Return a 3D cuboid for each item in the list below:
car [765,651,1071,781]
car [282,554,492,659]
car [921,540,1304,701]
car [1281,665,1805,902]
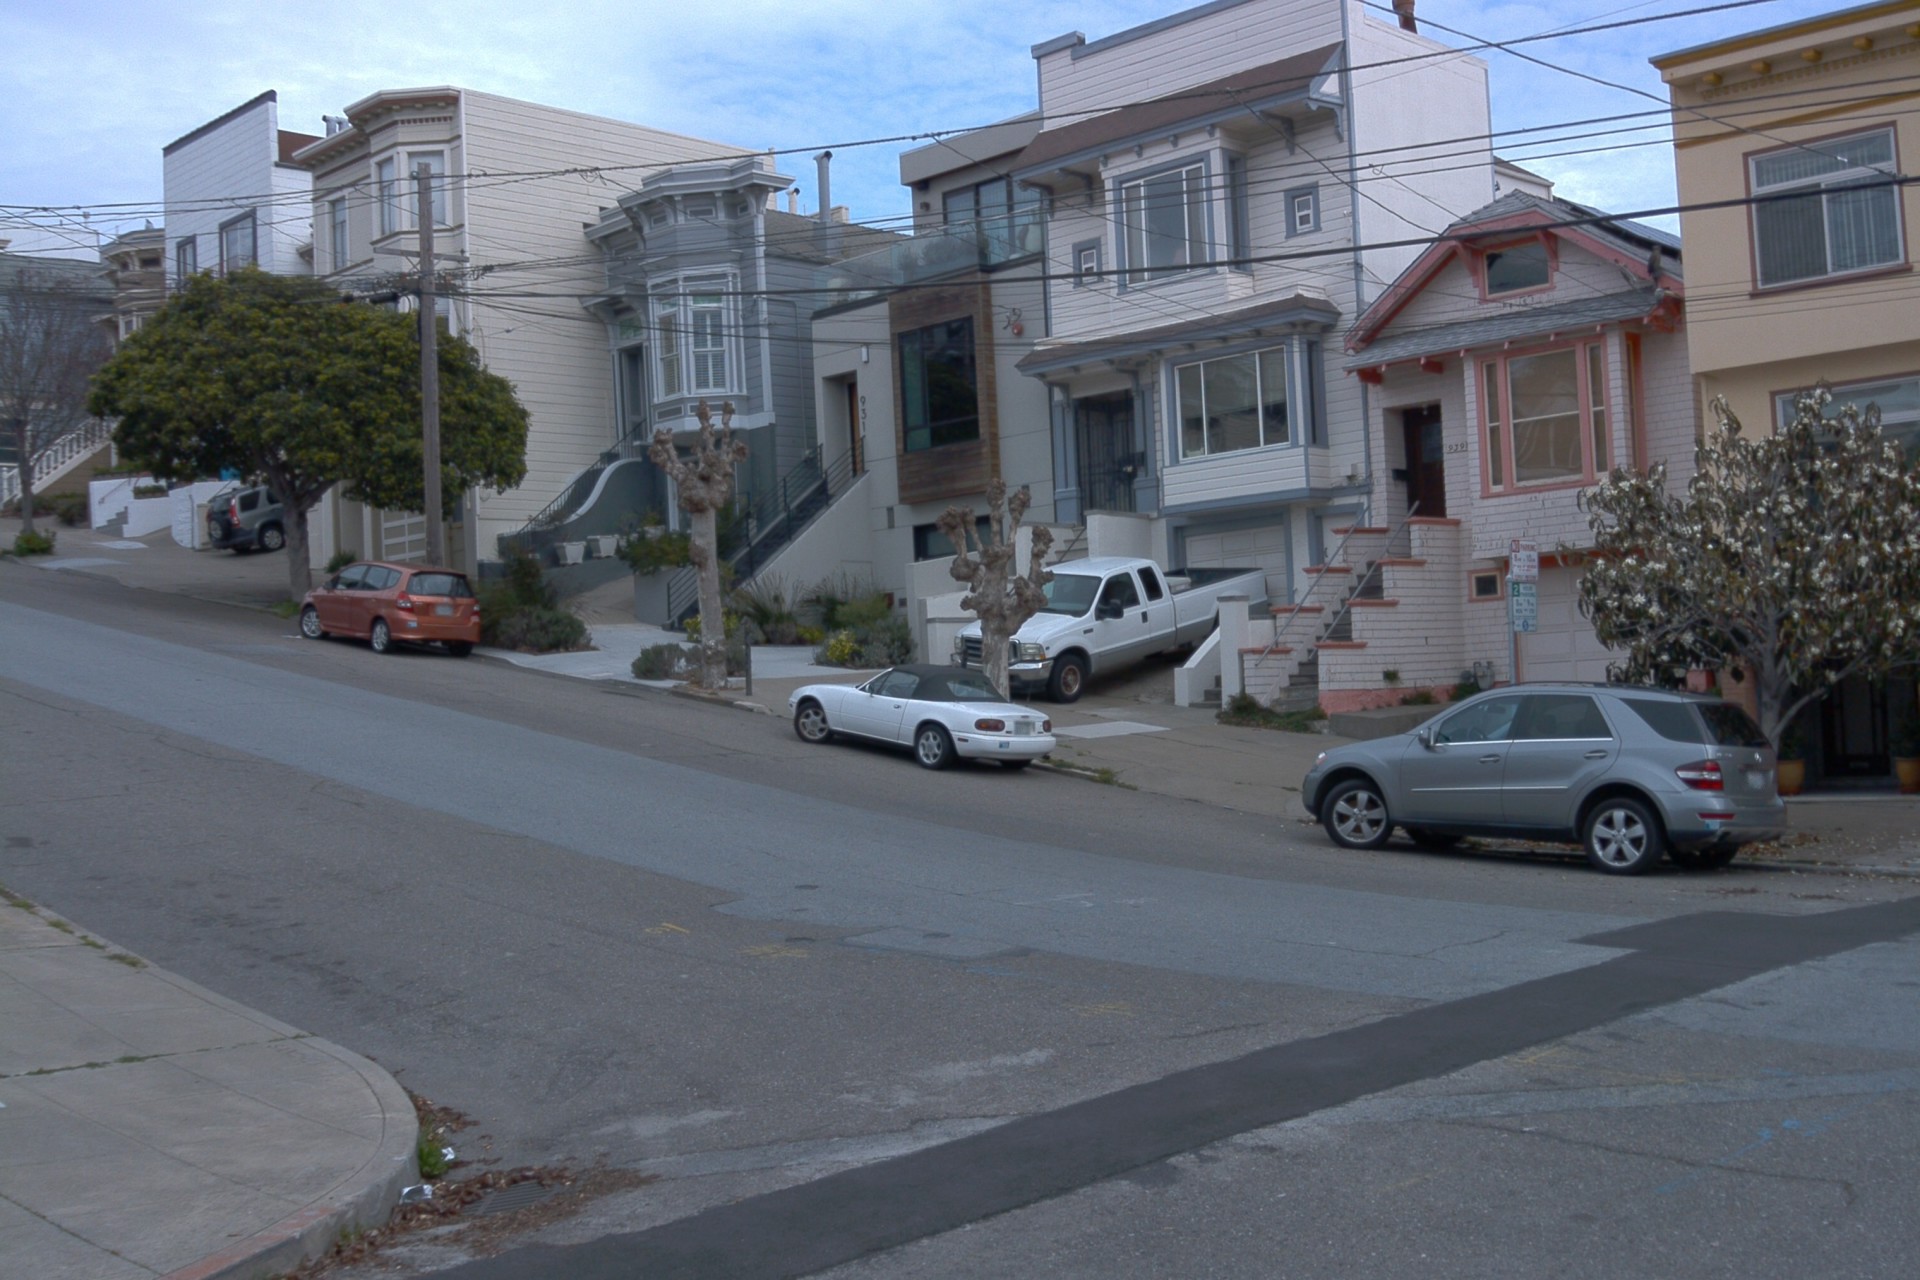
[{"bbox_3d":[-0.588,0.906,26.163,3.800,1.460,1.723,1,1,44],"label":"car"},{"bbox_3d":[-9.890,-0.569,35.207,3.774,1.703,1.781,1,1,43],"label":"car"},{"bbox_3d":[2.612,-0.315,33.614,6.277,2.400,2.723,0,1,-43],"label":"car"},{"bbox_3d":[5.599,1.279,20.103,1.958,1.930,4.549,0,1,-45],"label":"car"}]
